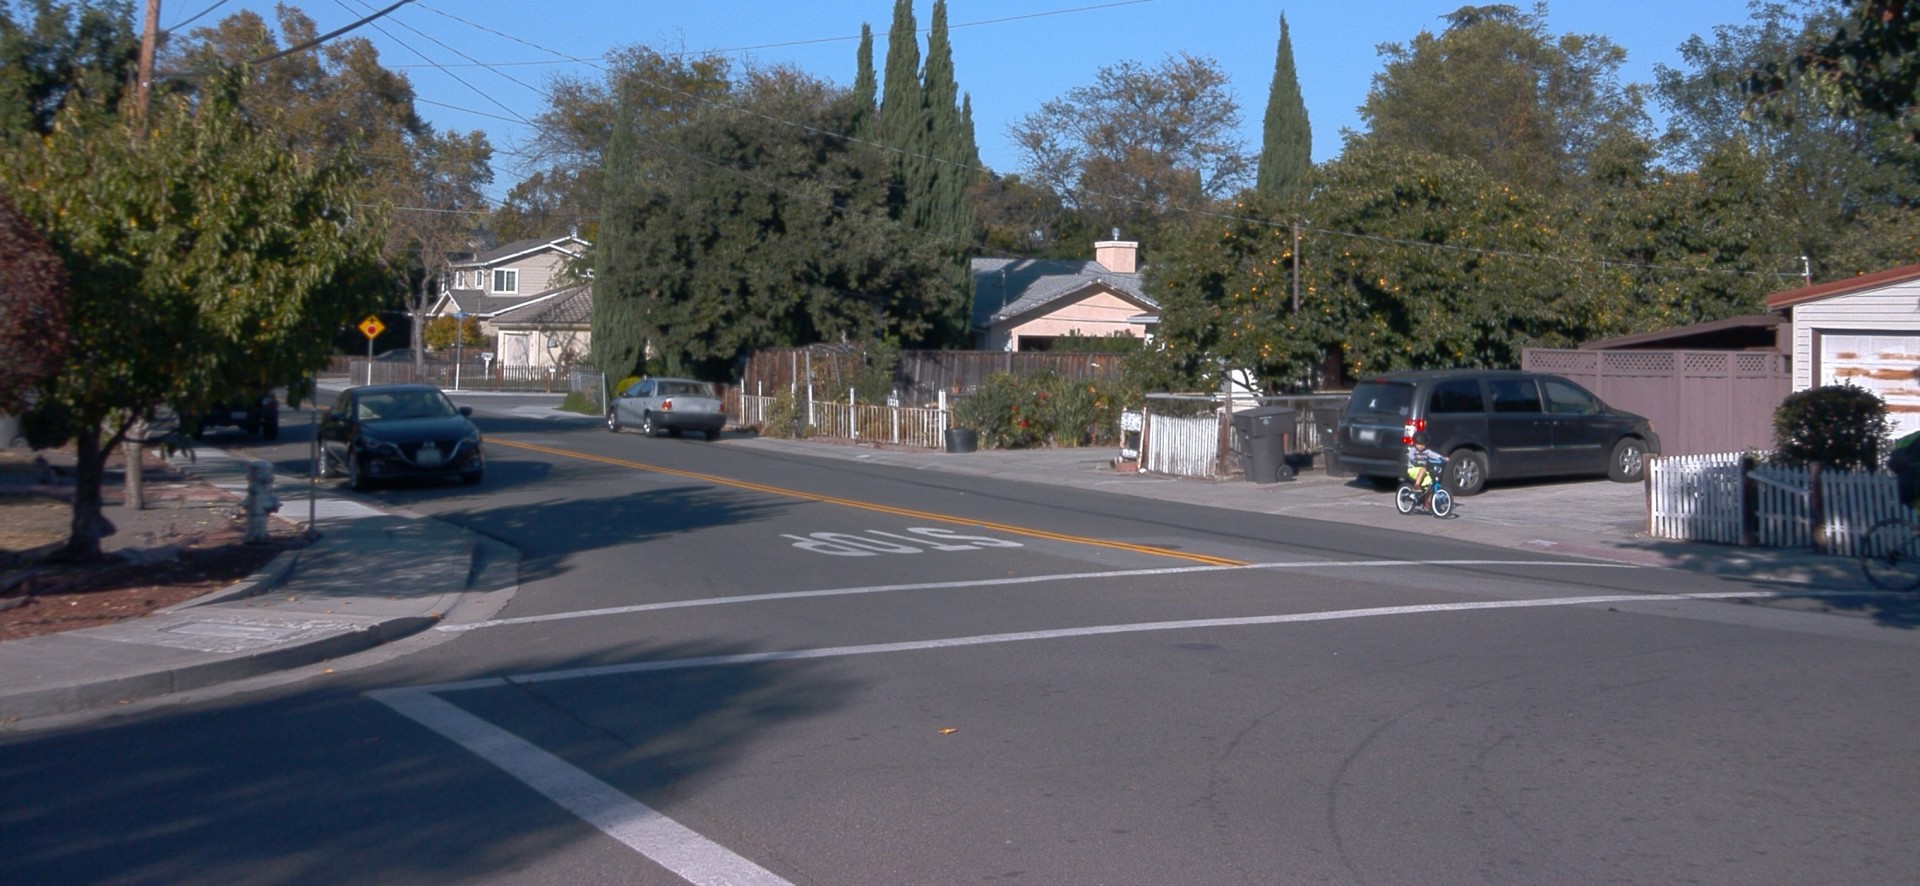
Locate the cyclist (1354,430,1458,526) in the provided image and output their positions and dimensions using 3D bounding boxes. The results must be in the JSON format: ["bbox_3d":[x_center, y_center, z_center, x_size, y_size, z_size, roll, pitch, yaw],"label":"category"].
[{"bbox_3d":[5.691,0.429,26.419,0.648,1.058,1.207,-1,4,-30],"label":"cyclist"}]

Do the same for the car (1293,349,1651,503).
[{"bbox_3d":[7.606,-0.327,30.663,4.988,1.925,2.150,-2,4,-28],"label":"car"}]

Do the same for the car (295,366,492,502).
[{"bbox_3d":[-8.621,-0.217,31.181,2.035,1.554,4.619,-1,6,-26],"label":"car"}]
